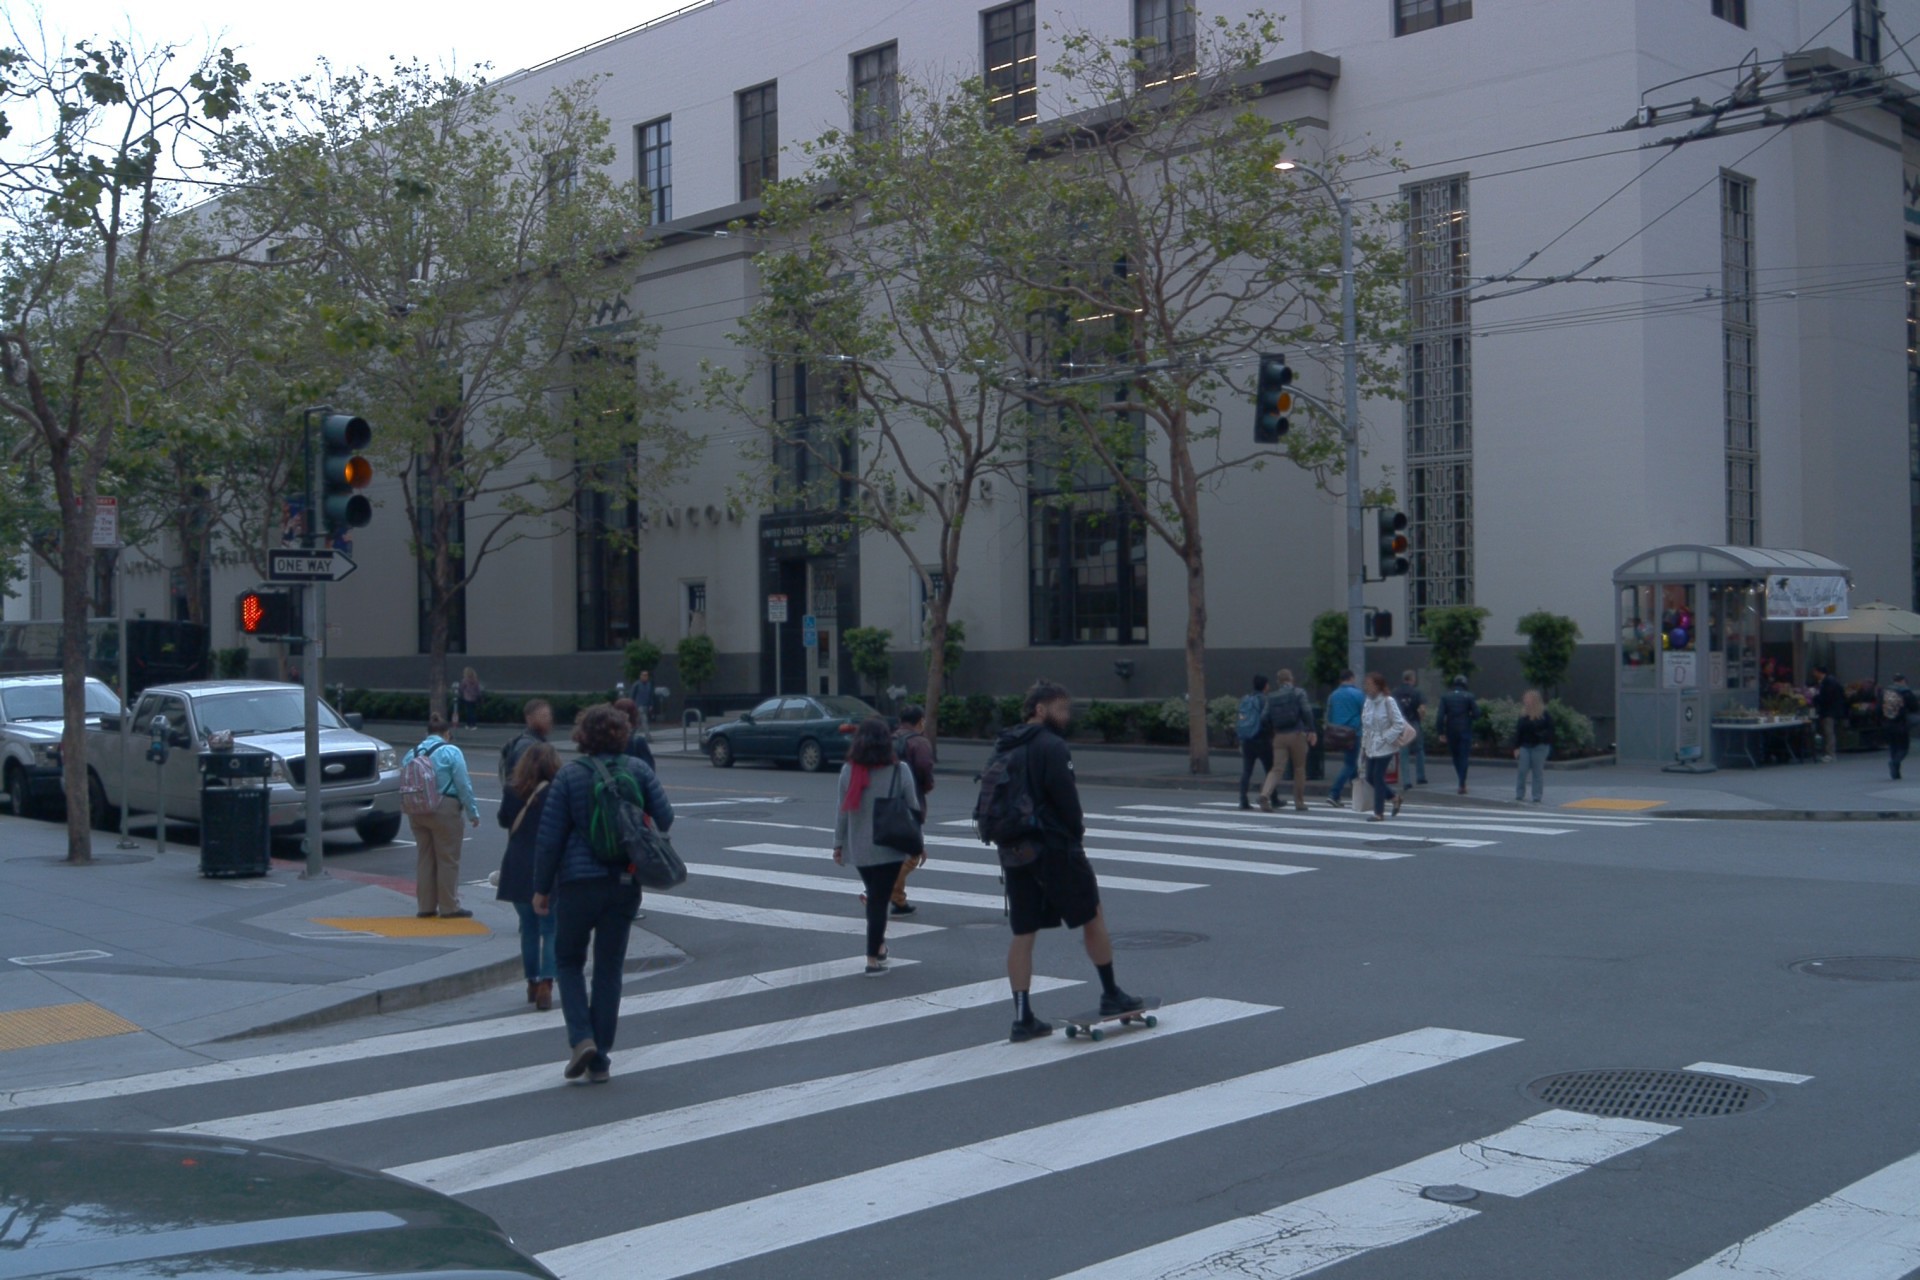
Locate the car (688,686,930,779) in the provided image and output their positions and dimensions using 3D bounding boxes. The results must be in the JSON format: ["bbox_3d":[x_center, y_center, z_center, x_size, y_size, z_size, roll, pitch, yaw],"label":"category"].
[{"bbox_3d":[-2.888,1.679,38.800,2.016,1.480,4.678,-1,1,-44],"label":"car"}]

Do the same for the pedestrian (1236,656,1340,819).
[{"bbox_3d":[3.988,1.161,25.056,1.051,1.896,0.762,-1,1,-44],"label":"pedestrian"}]

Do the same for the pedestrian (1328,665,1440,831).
[{"bbox_3d":[4.795,1.198,23.370,0.939,1.800,0.807,-1,1,-28],"label":"pedestrian"}]

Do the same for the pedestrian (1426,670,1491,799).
[{"bbox_3d":[7.203,1.343,29.810,0.753,1.796,0.987,0,1,24],"label":"pedestrian"}]

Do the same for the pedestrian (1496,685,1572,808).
[{"bbox_3d":[8.031,1.474,28.850,0.735,1.646,0.893,0,1,38],"label":"pedestrian"}]

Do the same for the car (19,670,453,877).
[{"bbox_3d":[-8.544,1.396,23.966,2.501,1.940,6.007,-1,1,-44],"label":"car"}]

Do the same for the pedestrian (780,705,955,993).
[{"bbox_3d":[-0.585,1.317,13.444,0.796,1.739,1.043,0,1,19],"label":"pedestrian"}]

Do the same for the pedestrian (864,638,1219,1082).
[{"bbox_3d":[0.441,1.060,10.865,1.544,2.118,1.097,-1,1,-43],"label":"pedestrian"}]

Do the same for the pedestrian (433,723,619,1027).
[{"bbox_3d":[-2.634,1.400,12.613,0.884,1.741,0.890,0,1,5],"label":"pedestrian"}]

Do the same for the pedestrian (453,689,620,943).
[{"bbox_3d":[-3.224,1.301,15.714,0.942,1.809,0.850,-1,1,-41],"label":"pedestrian"}]

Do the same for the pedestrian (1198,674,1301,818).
[{"bbox_3d":[3.574,1.287,25.487,0.974,1.706,0.840,-1,1,-43],"label":"pedestrian"}]

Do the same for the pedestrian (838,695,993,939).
[{"bbox_3d":[-0.338,1.330,15.902,0.964,1.771,0.716,-1,1,-45],"label":"pedestrian"}]

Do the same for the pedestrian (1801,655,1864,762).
[{"bbox_3d":[14.668,1.144,34.691,0.751,1.746,0.848,1,1,42],"label":"pedestrian"}]

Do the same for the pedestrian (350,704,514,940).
[{"bbox_3d":[-4.202,1.421,16.486,0.830,1.767,1.012,0,1,20],"label":"pedestrian"}]

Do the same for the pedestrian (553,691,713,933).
[{"bbox_3d":[-2.664,1.366,16.828,0.828,1.856,0.973,1,1,42],"label":"pedestrian"}]

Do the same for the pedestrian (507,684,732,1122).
[{"bbox_3d":[-1.700,1.224,10.183,0.846,1.969,1.162,0,1,-23],"label":"pedestrian"}]

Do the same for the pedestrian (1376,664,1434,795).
[{"bbox_3d":[6.532,1.294,30.258,0.678,1.856,0.979,0,1,22],"label":"pedestrian"}]

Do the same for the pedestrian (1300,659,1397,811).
[{"bbox_3d":[5.034,1.211,26.738,0.984,1.896,0.798,-1,1,-40],"label":"pedestrian"}]
